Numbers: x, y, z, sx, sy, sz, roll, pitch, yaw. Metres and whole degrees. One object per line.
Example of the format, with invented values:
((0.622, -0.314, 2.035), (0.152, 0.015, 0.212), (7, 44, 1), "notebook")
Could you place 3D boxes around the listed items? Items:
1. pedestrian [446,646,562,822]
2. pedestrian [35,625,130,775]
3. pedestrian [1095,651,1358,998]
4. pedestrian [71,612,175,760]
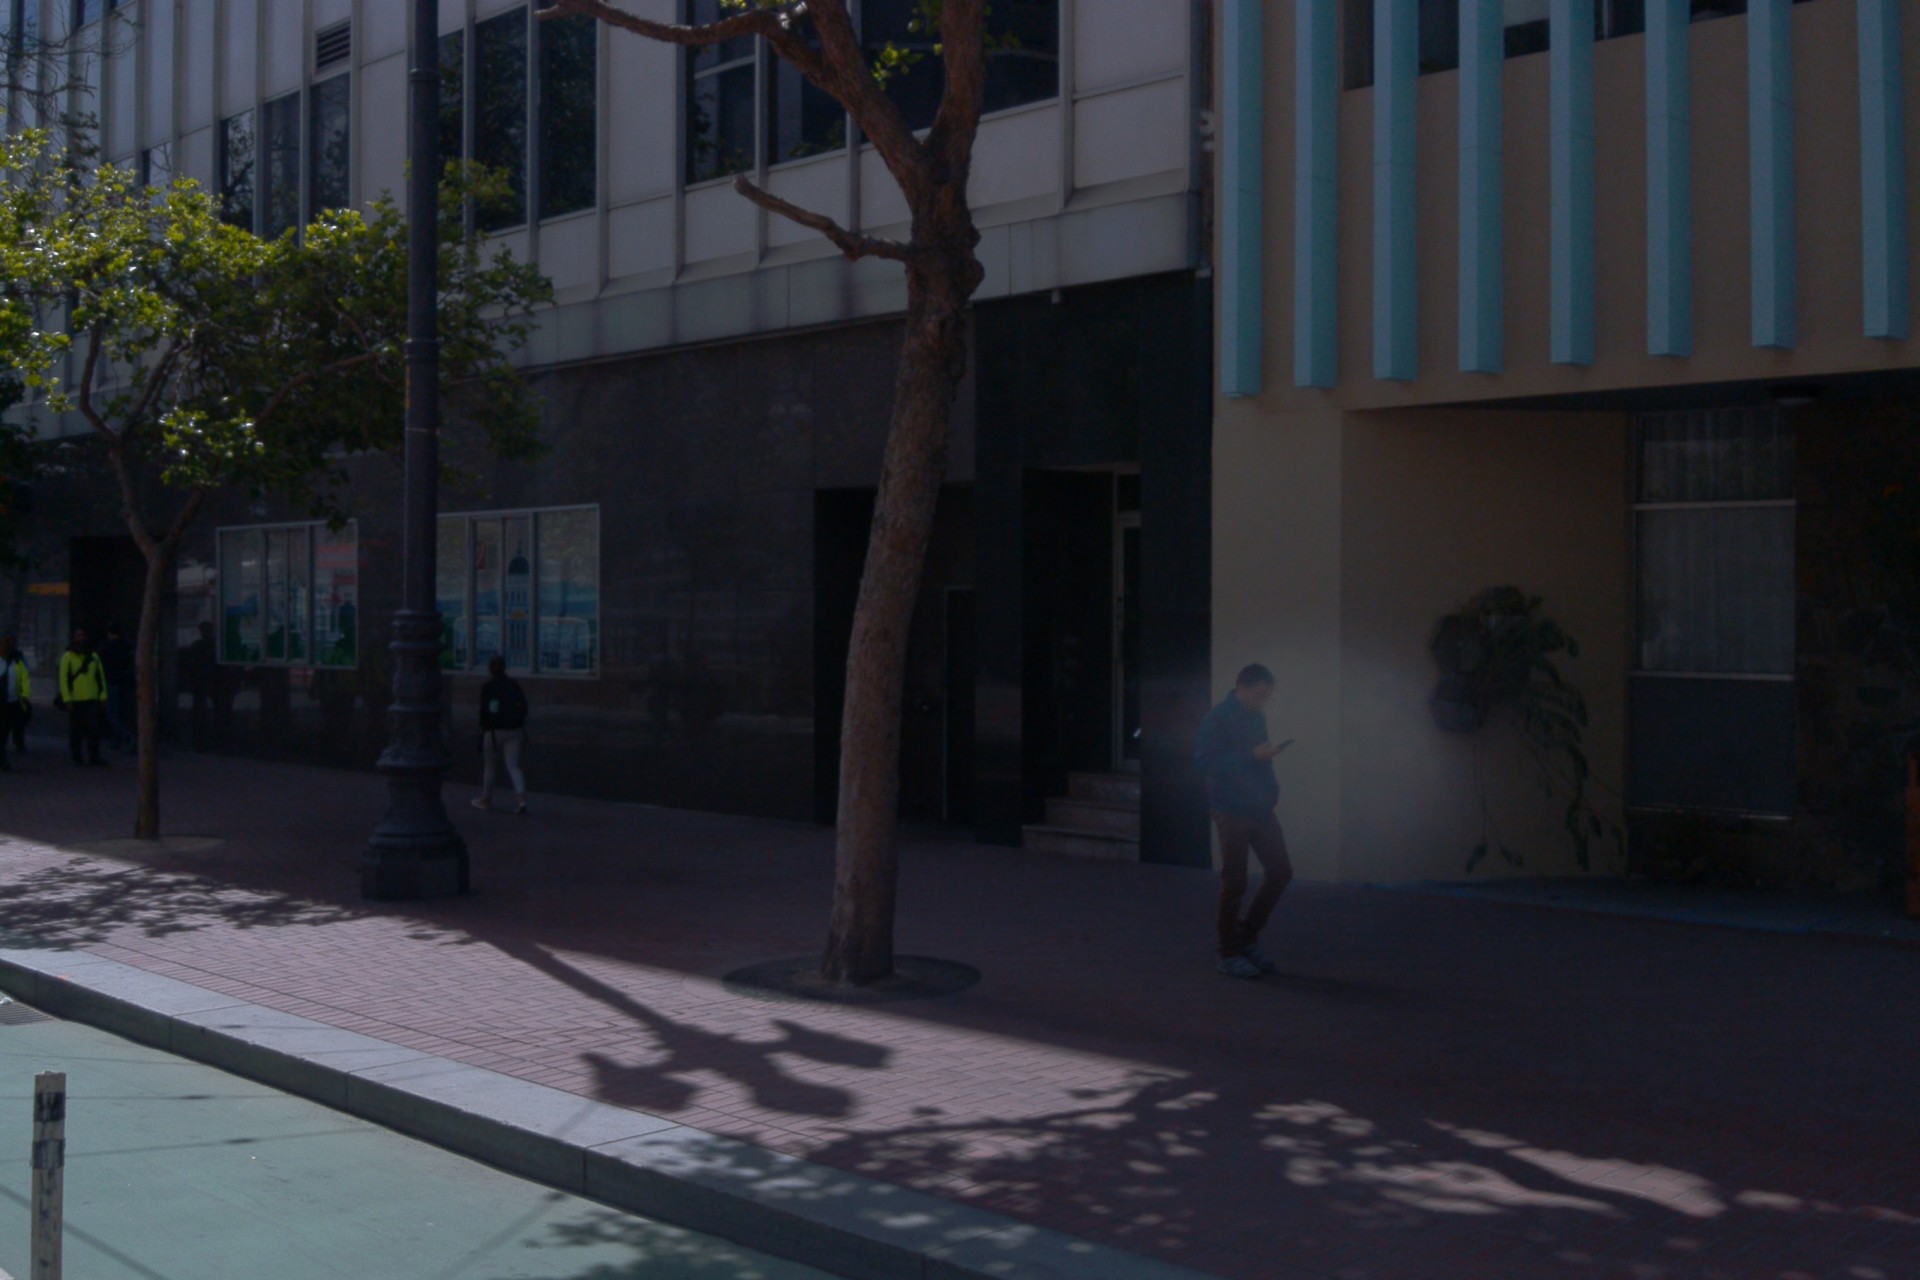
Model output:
((-4.495, 0.901, 20.246), (0.673, 1.660, 1.050), (0, 0, -42), "pedestrian")
((-11.162, 0.741, 26.154), (1.020, 1.850, 0.767), (0, 0, 44), "pedestrian")
((1.457, 0.956, 11.306), (1.178, 1.770, 0.805), (0, 0, 44), "pedestrian")
((-11.446, 0.608, 28.116), (1.235, 1.980, 0.861), (0, 0, 42), "pedestrian")
